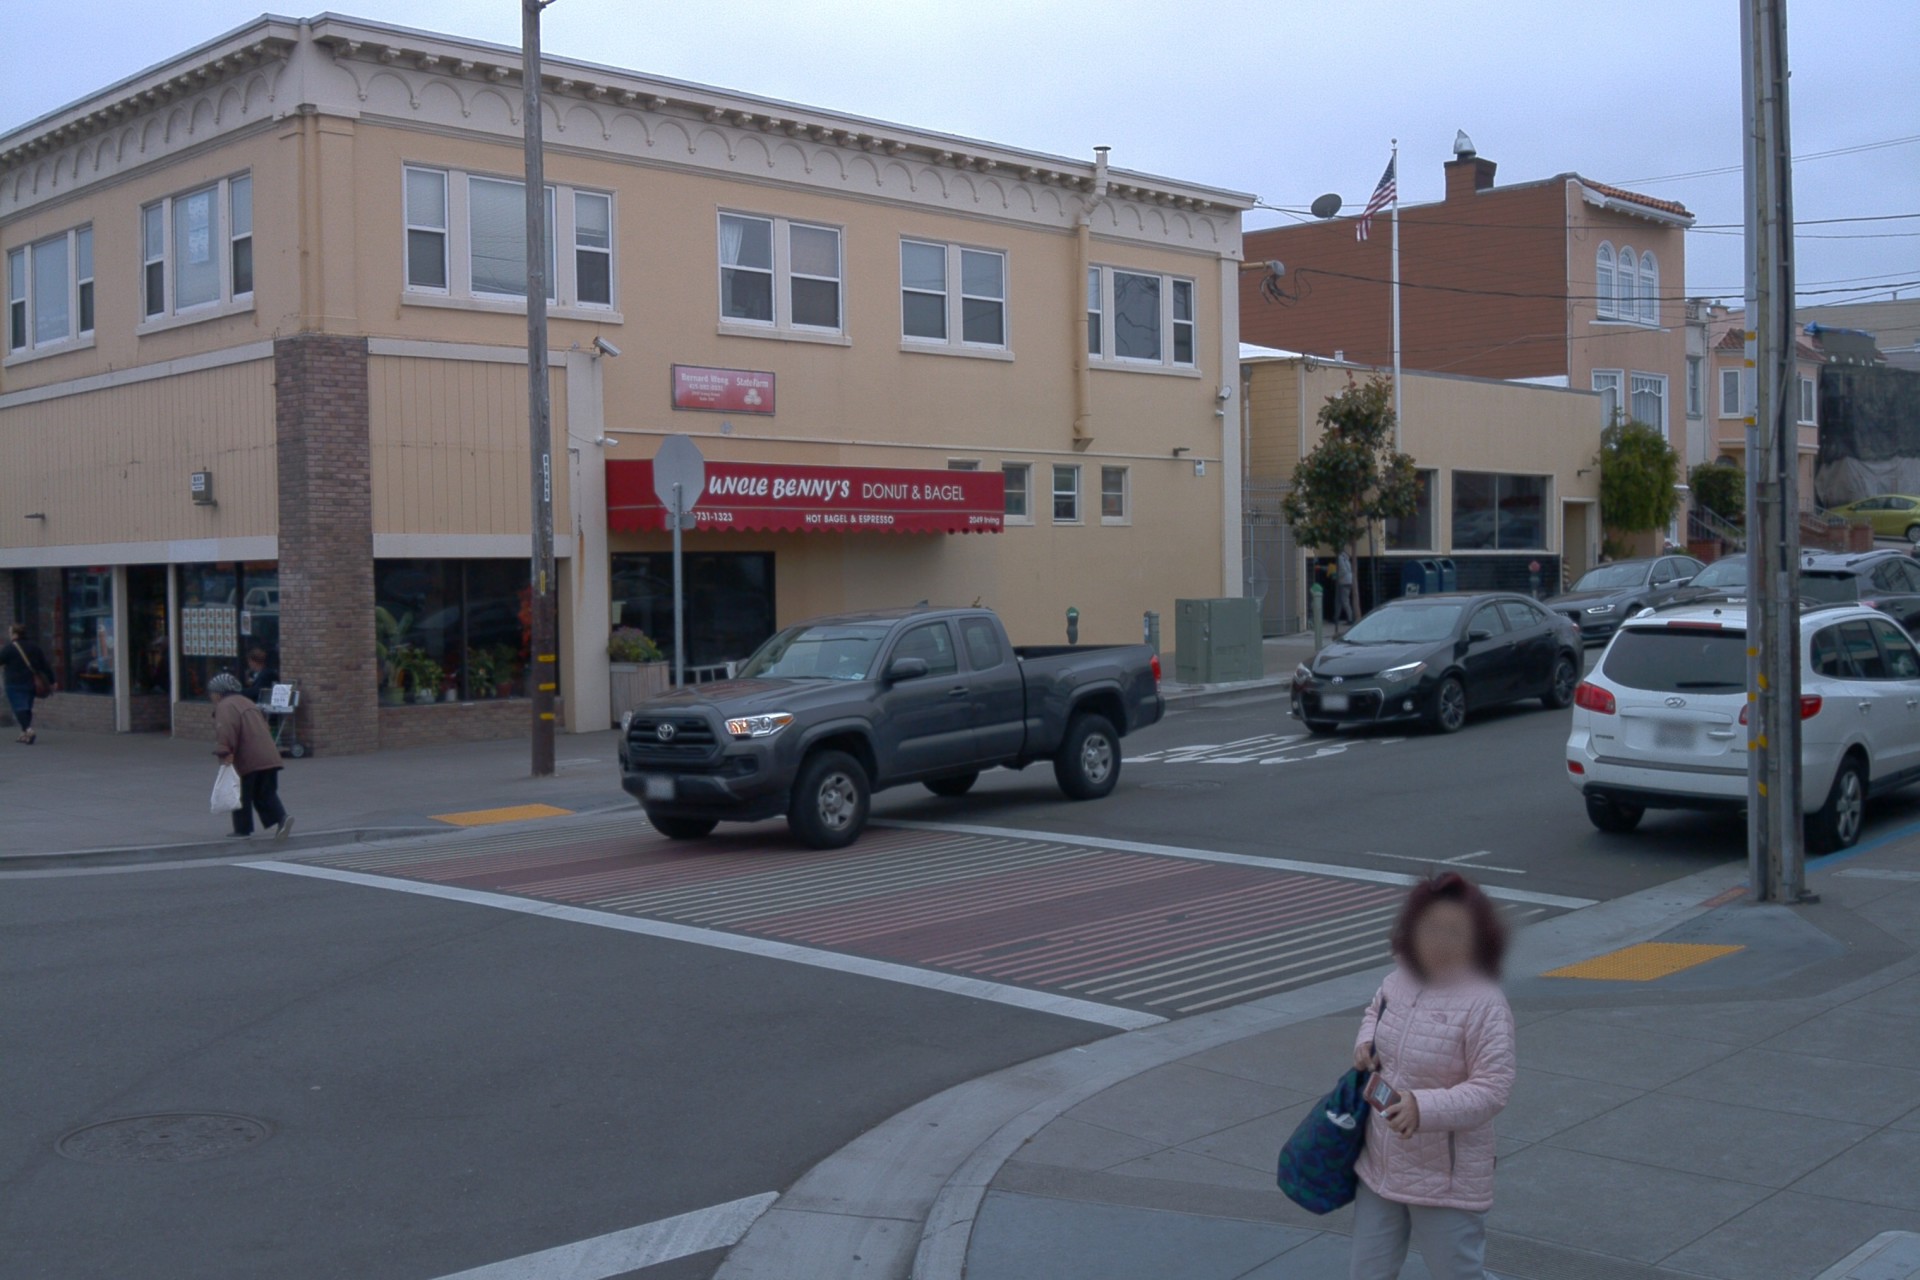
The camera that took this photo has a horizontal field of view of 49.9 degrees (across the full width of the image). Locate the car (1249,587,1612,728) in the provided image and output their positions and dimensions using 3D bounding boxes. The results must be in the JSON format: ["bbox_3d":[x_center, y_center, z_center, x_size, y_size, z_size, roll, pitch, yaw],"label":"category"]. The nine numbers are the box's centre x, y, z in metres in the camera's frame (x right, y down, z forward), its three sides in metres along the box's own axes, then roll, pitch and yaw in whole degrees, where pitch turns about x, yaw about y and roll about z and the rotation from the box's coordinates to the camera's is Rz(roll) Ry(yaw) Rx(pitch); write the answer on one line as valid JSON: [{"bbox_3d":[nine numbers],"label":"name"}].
[{"bbox_3d":[5.433,0.153,23.480,2.067,1.440,4.540,0,1,42],"label":"car"}]

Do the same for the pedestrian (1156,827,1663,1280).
[{"bbox_3d":[1.086,1.263,5.134,0.848,1.479,0.913,0,1,-24],"label":"pedestrian"}]

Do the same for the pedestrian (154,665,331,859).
[{"bbox_3d":[-5.775,0.952,16.652,0.835,1.477,1.063,0,1,38],"label":"pedestrian"}]

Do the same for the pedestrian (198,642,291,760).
[{"bbox_3d":[-8.620,0.722,24.887,0.878,1.374,0.735,1,1,44],"label":"pedestrian"}]

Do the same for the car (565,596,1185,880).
[{"bbox_3d":[-0.499,0.667,17.324,2.075,2.008,5.437,0,1,40],"label":"car"}]
